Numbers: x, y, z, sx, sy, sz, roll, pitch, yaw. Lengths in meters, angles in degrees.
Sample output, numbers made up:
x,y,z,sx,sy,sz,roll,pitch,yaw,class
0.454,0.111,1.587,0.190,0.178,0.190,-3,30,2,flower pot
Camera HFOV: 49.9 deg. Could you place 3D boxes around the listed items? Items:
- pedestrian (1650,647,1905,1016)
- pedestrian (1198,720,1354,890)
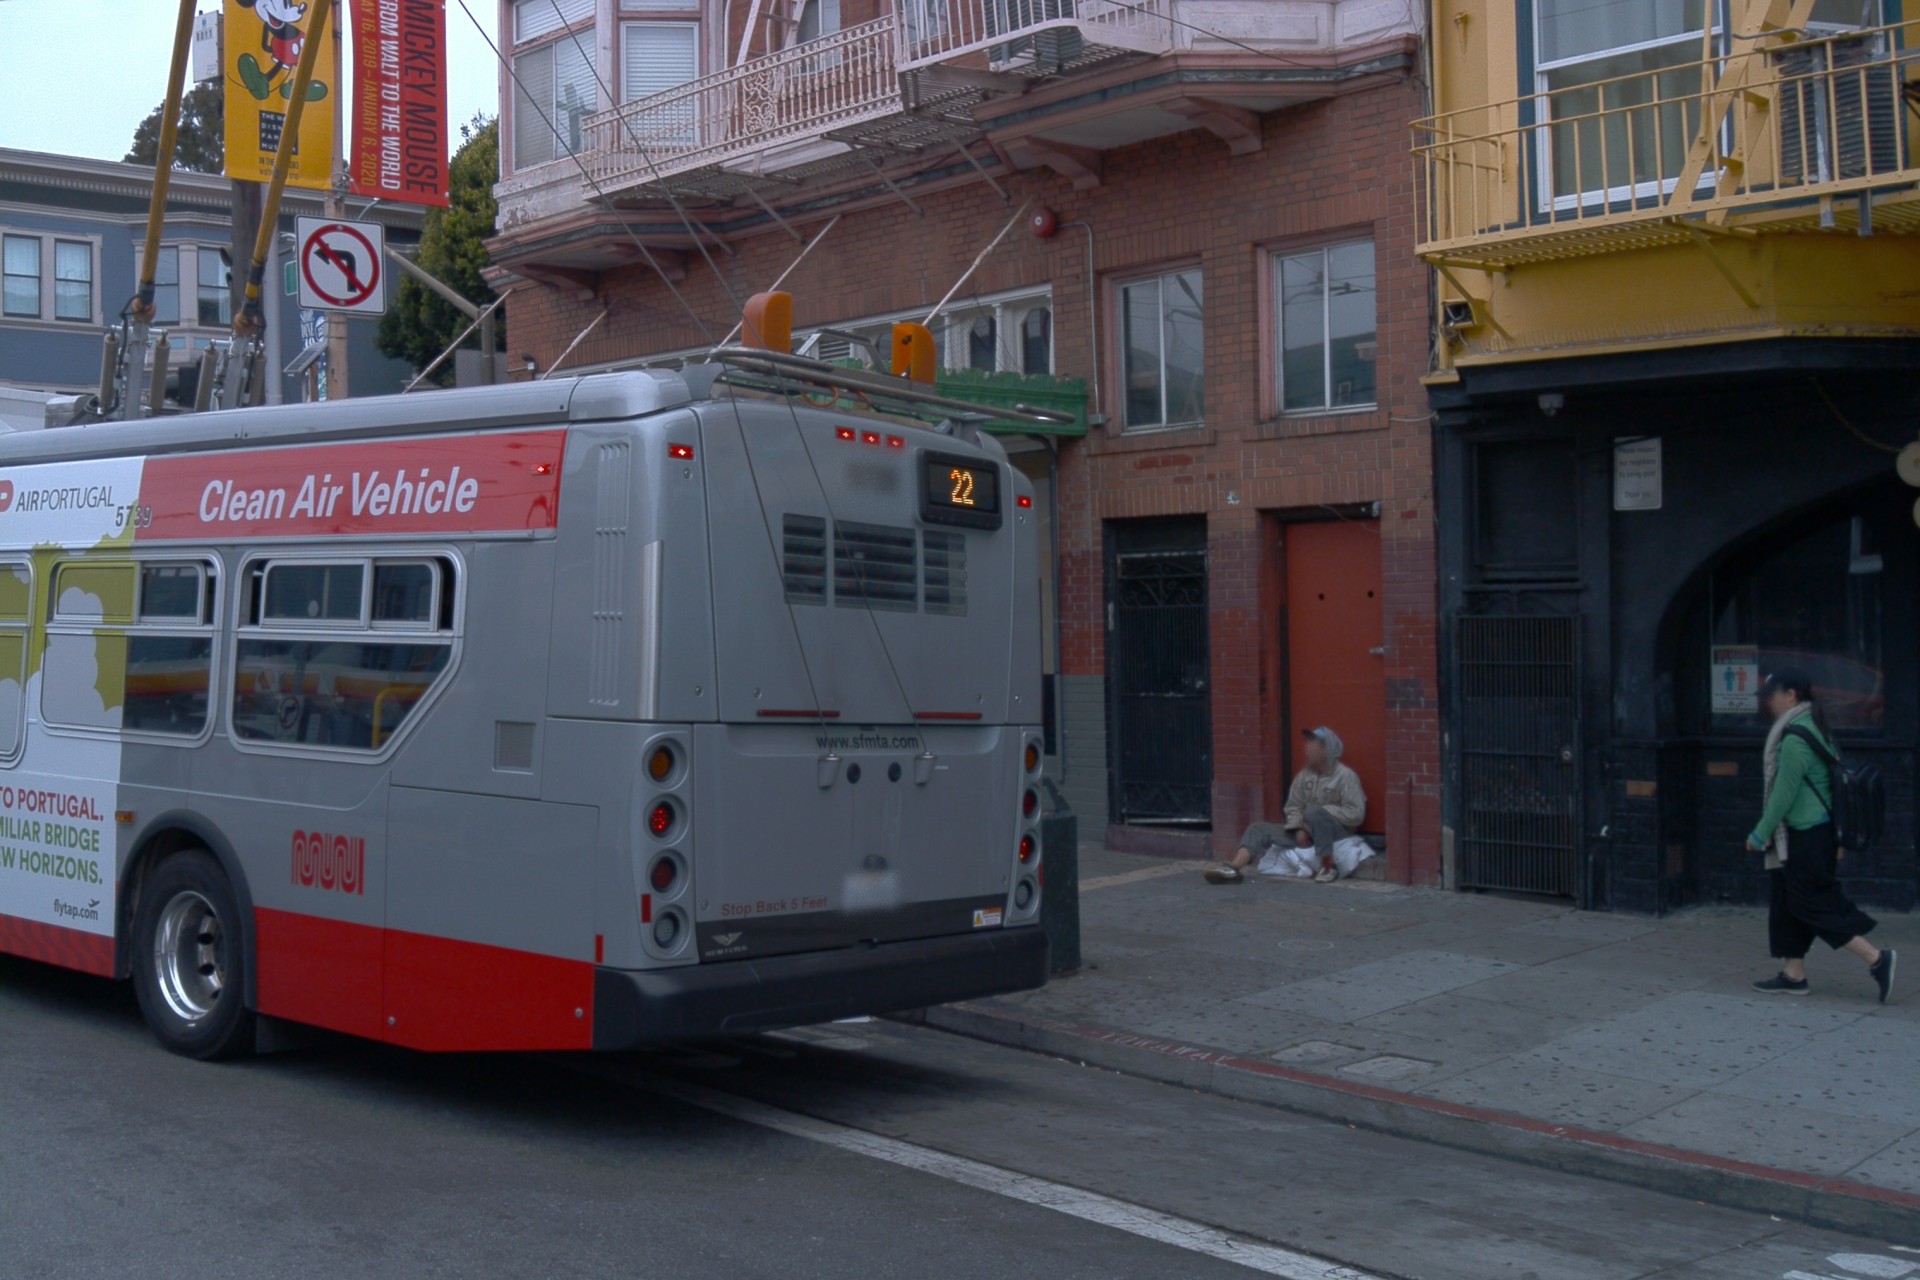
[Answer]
x,y,z,sx,sy,sz,roll,pitch,yaw,class
4.186,0.920,10.564,1.077,1.750,0.911,0,1,31,pedestrian
2.220,1.140,14.524,0.811,1.100,0.736,1,1,44,pedestrian
